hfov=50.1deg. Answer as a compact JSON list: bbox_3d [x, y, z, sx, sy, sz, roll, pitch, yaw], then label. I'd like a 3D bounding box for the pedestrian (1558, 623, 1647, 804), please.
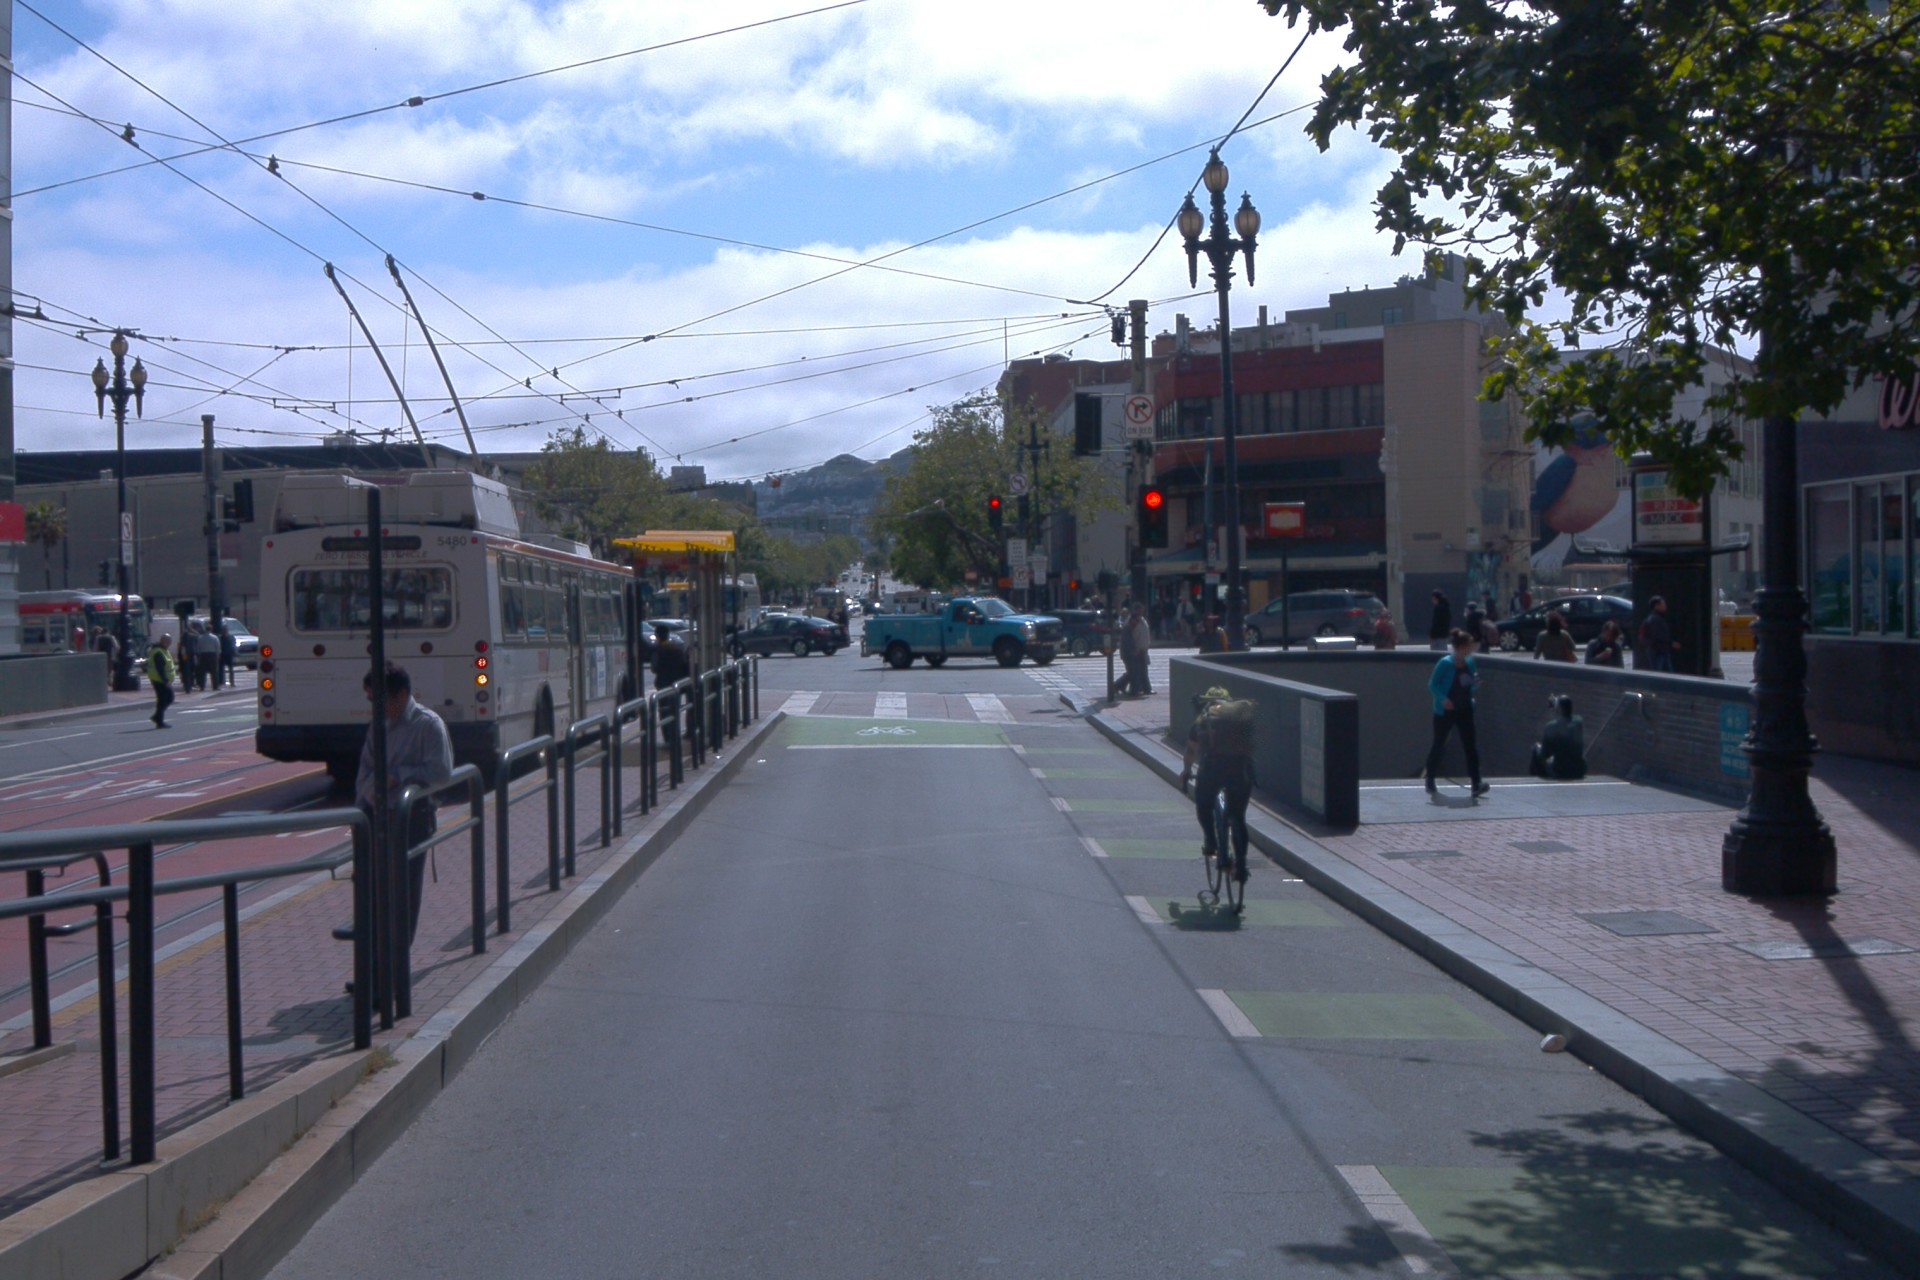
[{"bbox_3d":[7.969,0.893,25.520,0.779,2.200,0.956,0,1,-2],"label":"pedestrian"}]

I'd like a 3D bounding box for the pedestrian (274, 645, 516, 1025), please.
[{"bbox_3d":[-2.767,0.907,10.090,0.808,1.750,0.799,0,1,31],"label":"pedestrian"}]

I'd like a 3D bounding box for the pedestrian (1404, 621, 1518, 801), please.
[{"bbox_3d":[4.994,0.684,20.527,0.749,1.740,1.054,0,1,-9],"label":"pedestrian"}]

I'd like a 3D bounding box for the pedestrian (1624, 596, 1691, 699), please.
[{"bbox_3d":[11.535,0.119,33.975,0.895,1.670,0.841,0,1,30],"label":"pedestrian"}]

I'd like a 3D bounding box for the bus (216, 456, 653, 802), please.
[{"bbox_3d":[-6.497,-0.195,27.964,3.070,3.670,12.174,0,1,-1],"label":"bus"}]

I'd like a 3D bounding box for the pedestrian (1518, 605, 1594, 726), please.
[{"bbox_3d":[8.743,0.365,30.174,0.755,1.740,0.858,0,1,-11],"label":"pedestrian"}]

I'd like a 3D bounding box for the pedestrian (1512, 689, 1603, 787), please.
[{"bbox_3d":[6.431,1.045,22.167,0.702,1.000,0.902,0,1,-1],"label":"pedestrian"}]

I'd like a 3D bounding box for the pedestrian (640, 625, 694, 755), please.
[{"bbox_3d":[-3.828,0.643,26.872,0.667,1.680,0.622,0,1,-5],"label":"pedestrian"}]

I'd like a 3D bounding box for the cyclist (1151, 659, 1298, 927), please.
[{"bbox_3d":[1.874,1.042,14.797,0.807,1.770,1.802,0,1,0],"label":"cyclist"}]

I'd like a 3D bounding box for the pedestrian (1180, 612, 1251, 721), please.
[{"bbox_3d":[4.153,0.421,33.456,1.045,1.750,0.818,0,1,0],"label":"pedestrian"}]
